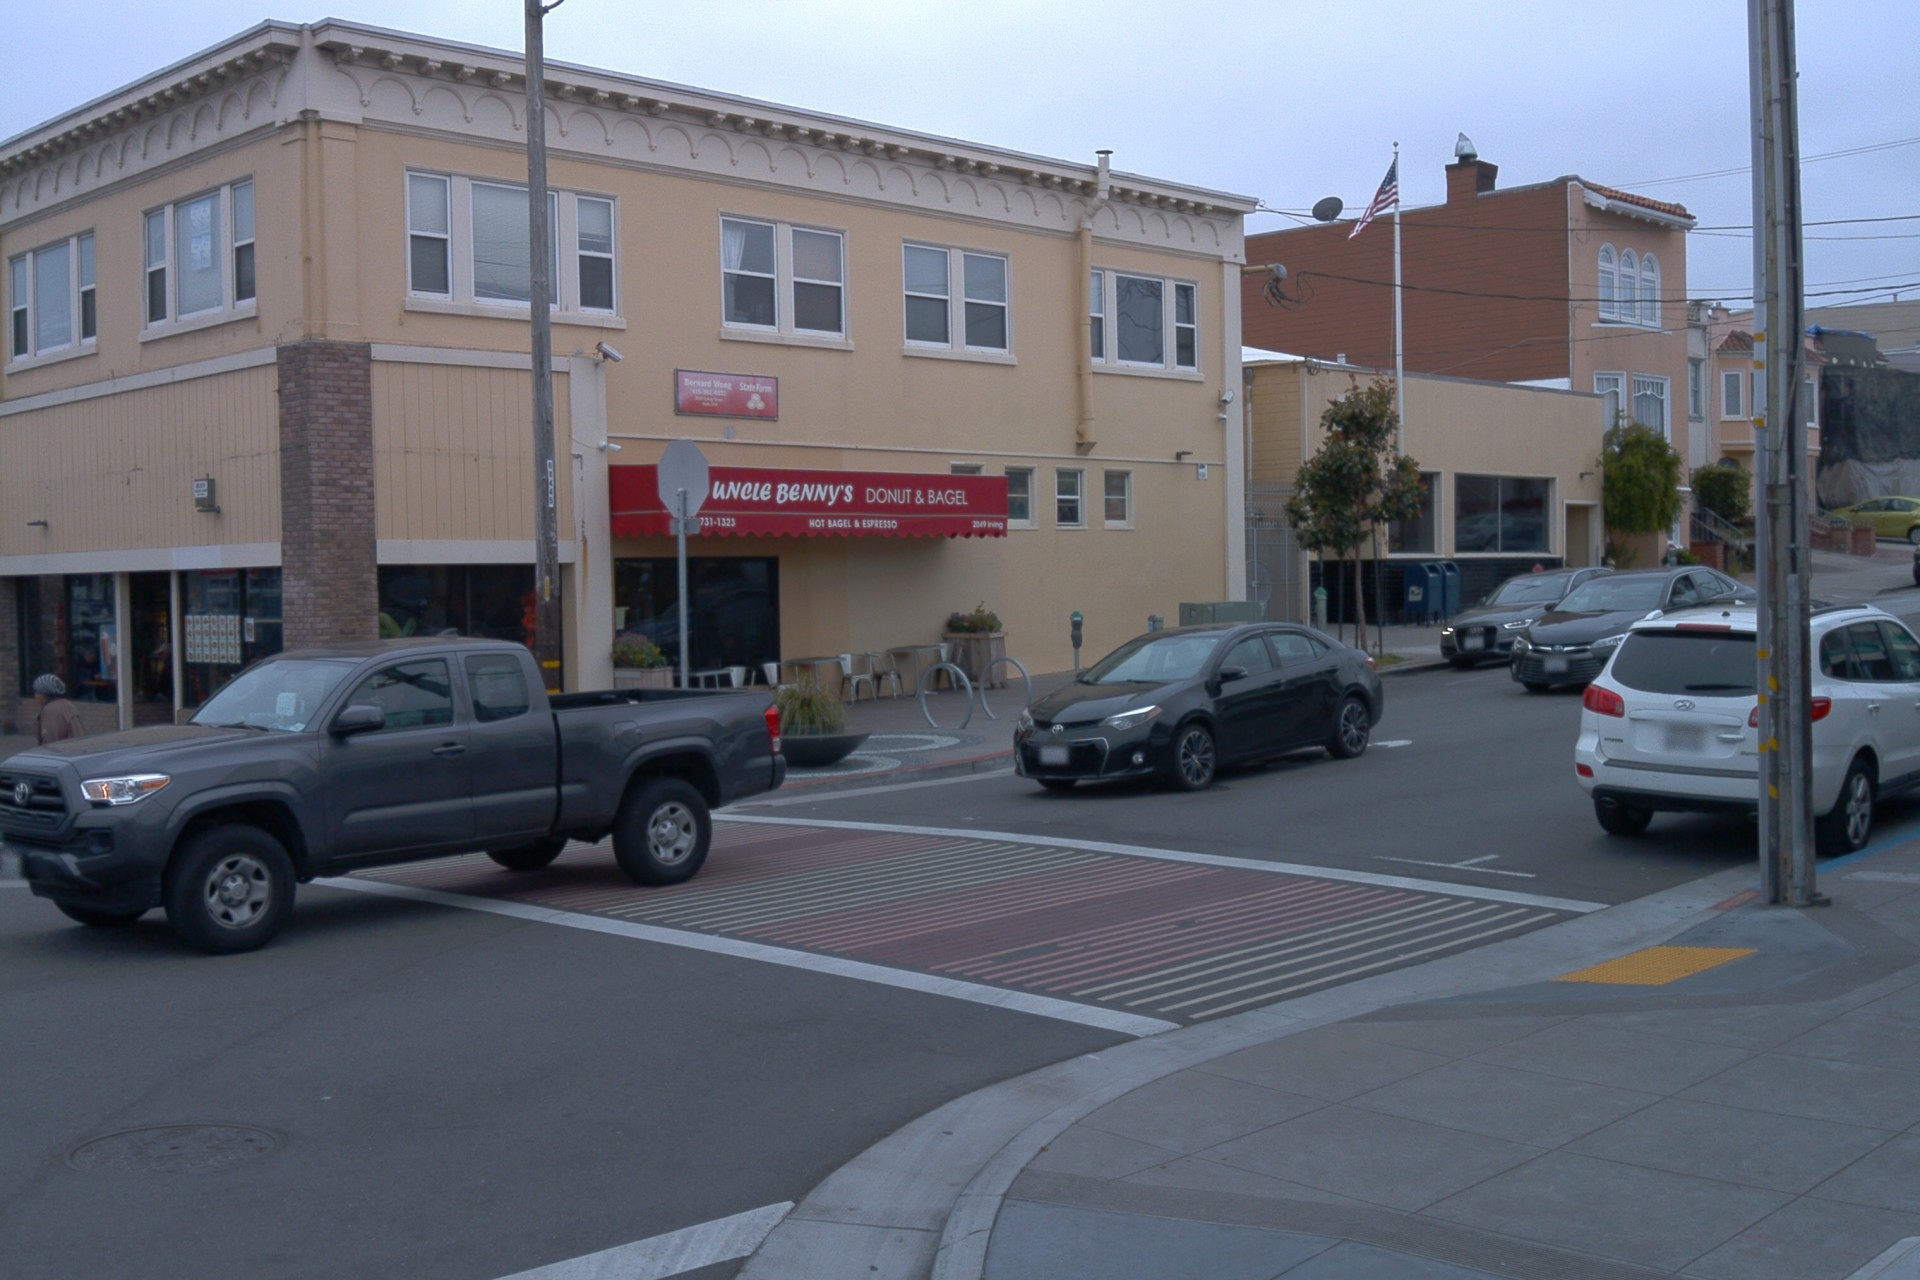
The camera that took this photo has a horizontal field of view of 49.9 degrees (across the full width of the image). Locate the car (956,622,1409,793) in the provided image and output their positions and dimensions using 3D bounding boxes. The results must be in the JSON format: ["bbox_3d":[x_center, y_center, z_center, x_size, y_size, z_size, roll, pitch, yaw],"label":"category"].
[{"bbox_3d":[2.252,0.554,19.928,2.067,1.440,4.540,0,1,42],"label":"car"}]

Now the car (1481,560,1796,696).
[{"bbox_3d":[9.102,-0.173,27.487,2.082,1.644,4.864,1,1,44],"label":"car"}]
